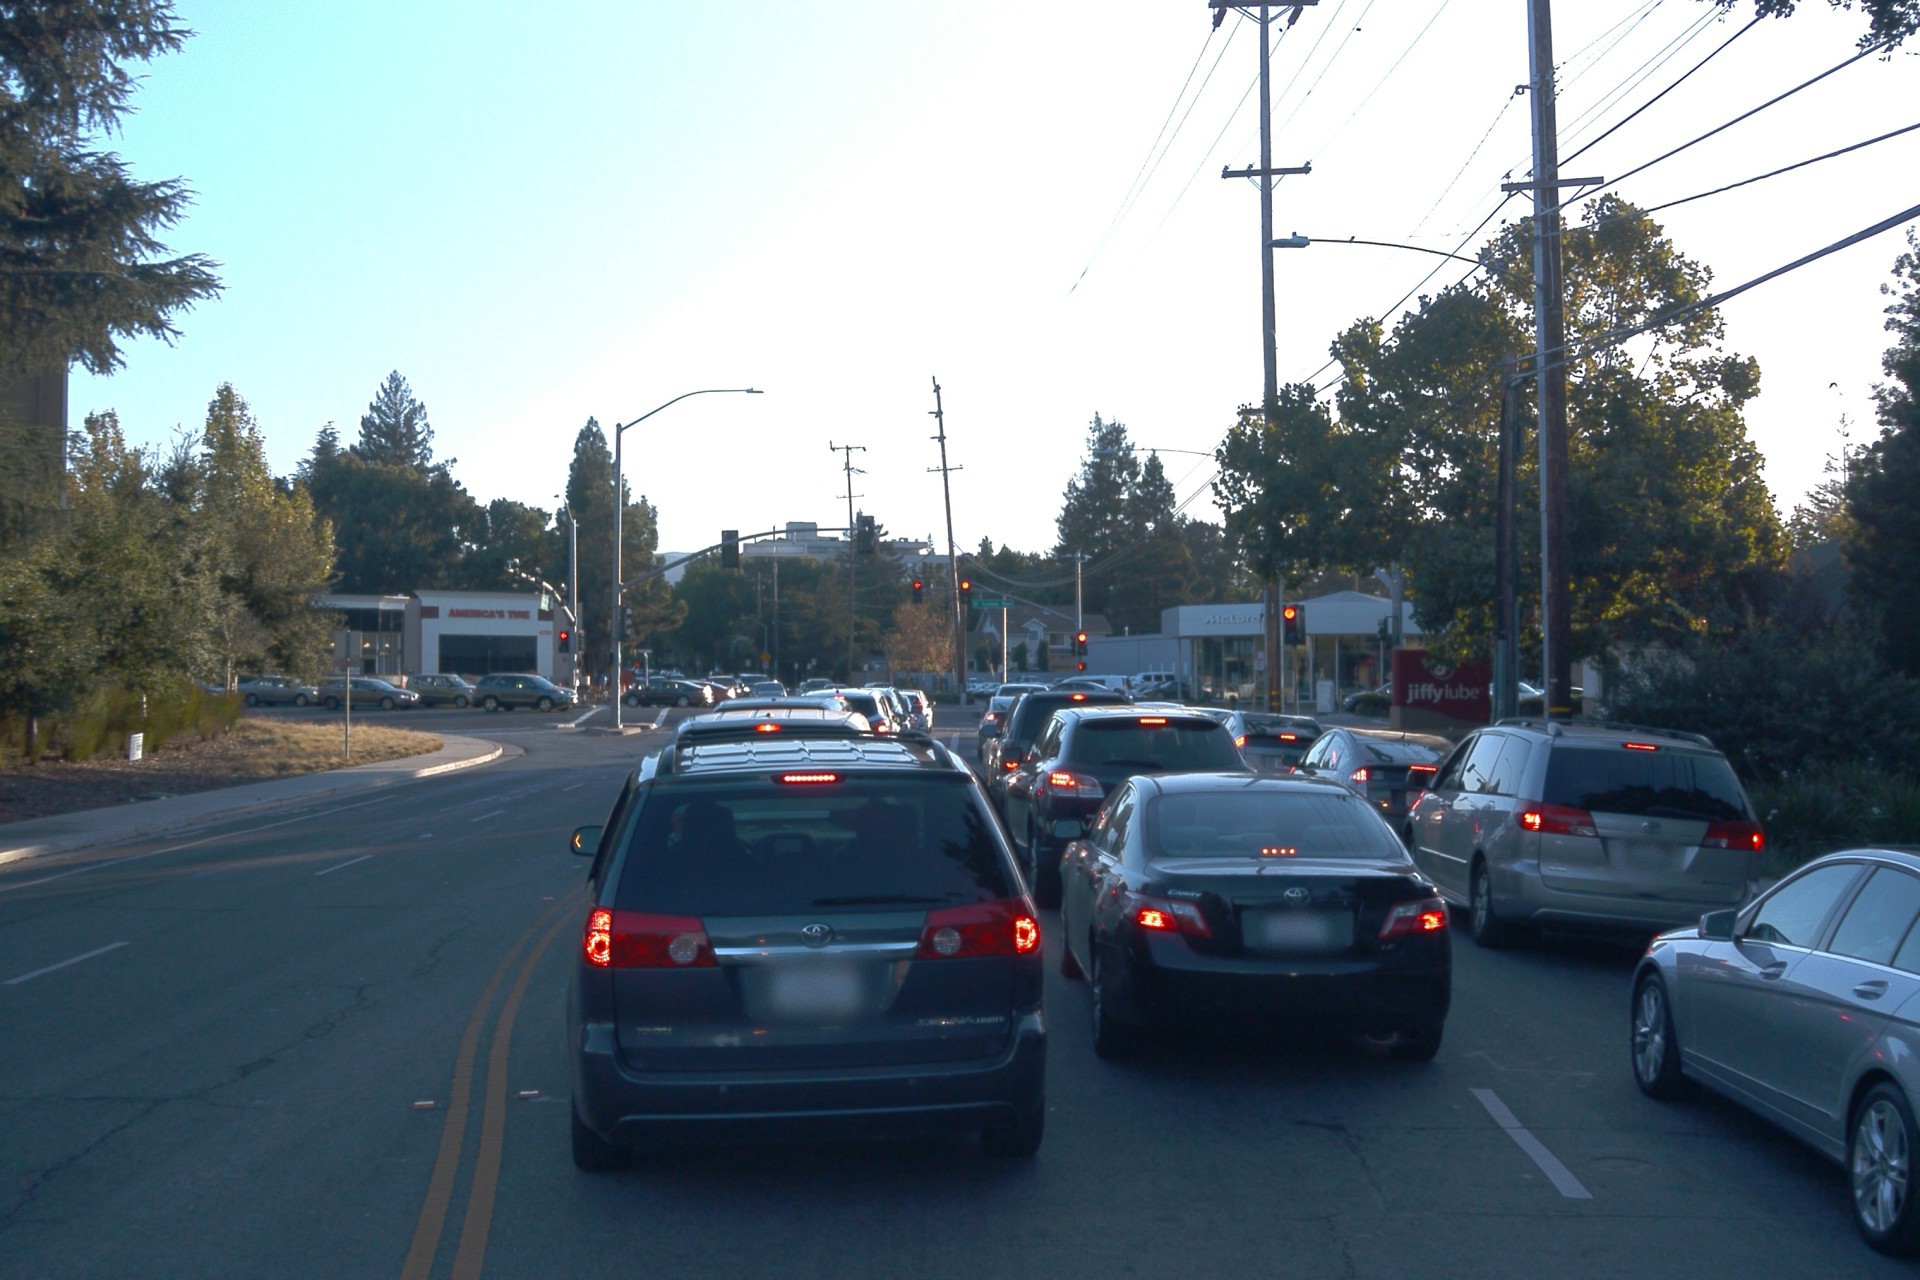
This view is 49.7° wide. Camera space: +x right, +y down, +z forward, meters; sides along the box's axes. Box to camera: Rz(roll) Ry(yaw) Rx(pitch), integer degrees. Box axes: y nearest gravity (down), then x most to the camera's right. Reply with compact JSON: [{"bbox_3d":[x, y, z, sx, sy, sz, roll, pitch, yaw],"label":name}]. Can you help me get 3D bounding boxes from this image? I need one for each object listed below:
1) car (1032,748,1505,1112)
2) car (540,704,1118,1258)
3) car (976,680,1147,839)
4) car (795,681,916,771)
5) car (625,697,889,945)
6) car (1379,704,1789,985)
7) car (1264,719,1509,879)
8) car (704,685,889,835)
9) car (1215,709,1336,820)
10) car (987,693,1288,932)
[{"bbox_3d":[1.529,1.477,11.982,1.915,1.490,4.528,0,0,-2],"label":"car"},{"bbox_3d":[-0.874,1.303,10.232,2.102,1.830,5.461,0,0,-9],"label":"car"},{"bbox_3d":[1.186,1.414,25.823,1.759,1.770,3.957,0,0,-3],"label":"car"},{"bbox_3d":[-1.660,1.370,33.817,1.709,1.350,3.337,0,0,2],"label":"car"},{"bbox_3d":[-1.470,1.303,16.299,1.812,1.620,4.042,0,0,-2],"label":"car"},{"bbox_3d":[4.903,1.522,17.100,2.061,1.850,4.903,0,0,2],"label":"car"},{"bbox_3d":[4.676,1.707,23.273,1.785,1.510,4.026,0,0,-2],"label":"car"},{"bbox_3d":[-1.862,1.358,24.684,1.760,1.570,3.956,0,0,2],"label":"car"},{"bbox_3d":[4.670,1.819,30.934,1.418,1.490,3.138,0,0,2],"label":"car"},{"bbox_3d":[1.458,1.433,18.830,1.992,1.810,4.553,0,0,-5],"label":"car"}]
